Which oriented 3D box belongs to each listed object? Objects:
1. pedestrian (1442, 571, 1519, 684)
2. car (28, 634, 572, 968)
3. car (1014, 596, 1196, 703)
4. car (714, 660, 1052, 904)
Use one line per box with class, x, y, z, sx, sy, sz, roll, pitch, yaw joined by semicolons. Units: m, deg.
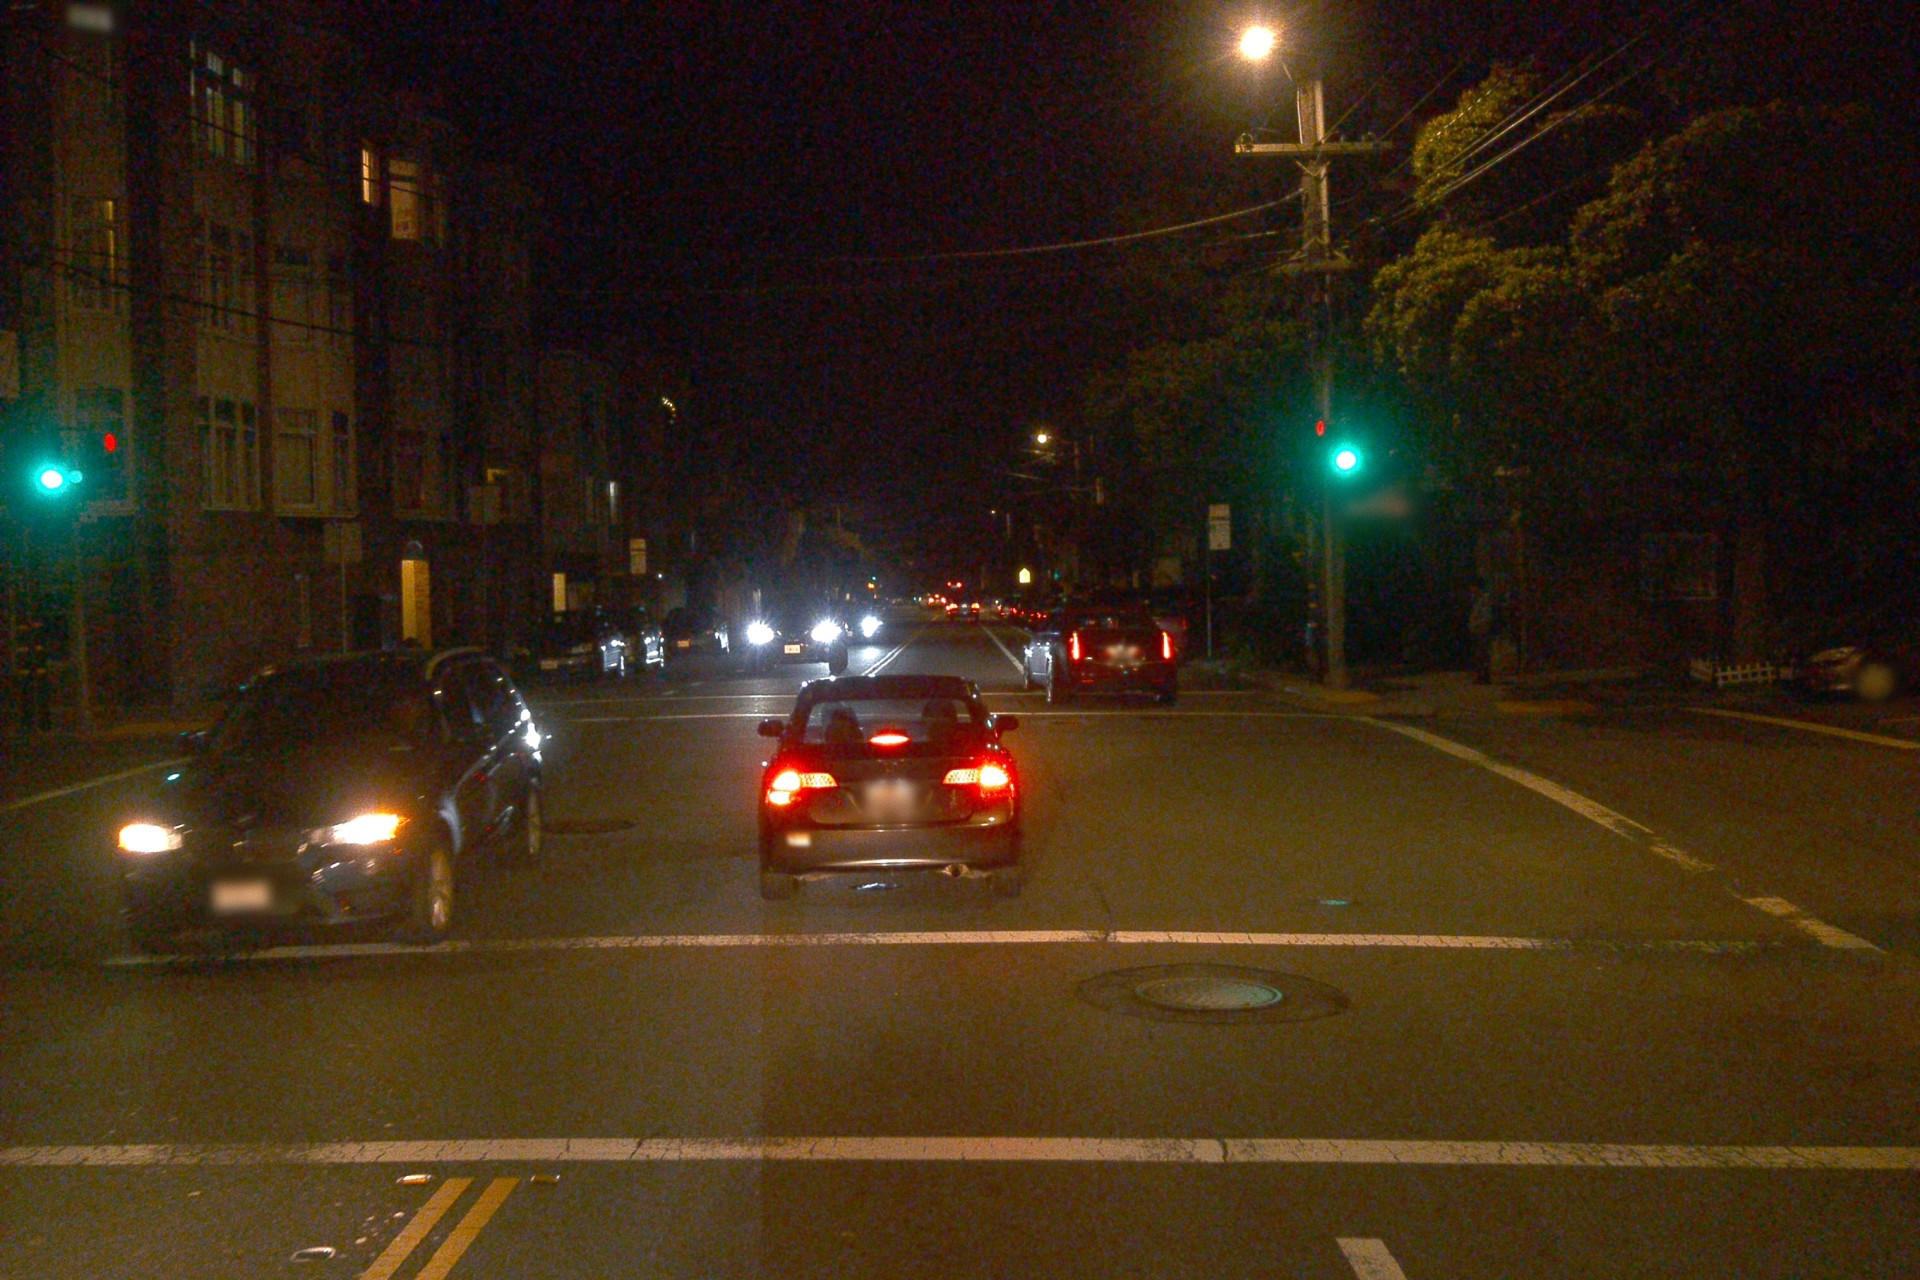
pedestrian;7.850;-0.187;30.837;0.936;1.691;0.623;0;0;-12
car;-4.076;0.883;13.551;2.145;1.820;4.496;1;0;0
car;2.098;0.121;30.861;2.066;1.490;4.420;0;0;-5
car;-0.504;0.896;14.900;2.070;1.420;4.588;1;0;-1
